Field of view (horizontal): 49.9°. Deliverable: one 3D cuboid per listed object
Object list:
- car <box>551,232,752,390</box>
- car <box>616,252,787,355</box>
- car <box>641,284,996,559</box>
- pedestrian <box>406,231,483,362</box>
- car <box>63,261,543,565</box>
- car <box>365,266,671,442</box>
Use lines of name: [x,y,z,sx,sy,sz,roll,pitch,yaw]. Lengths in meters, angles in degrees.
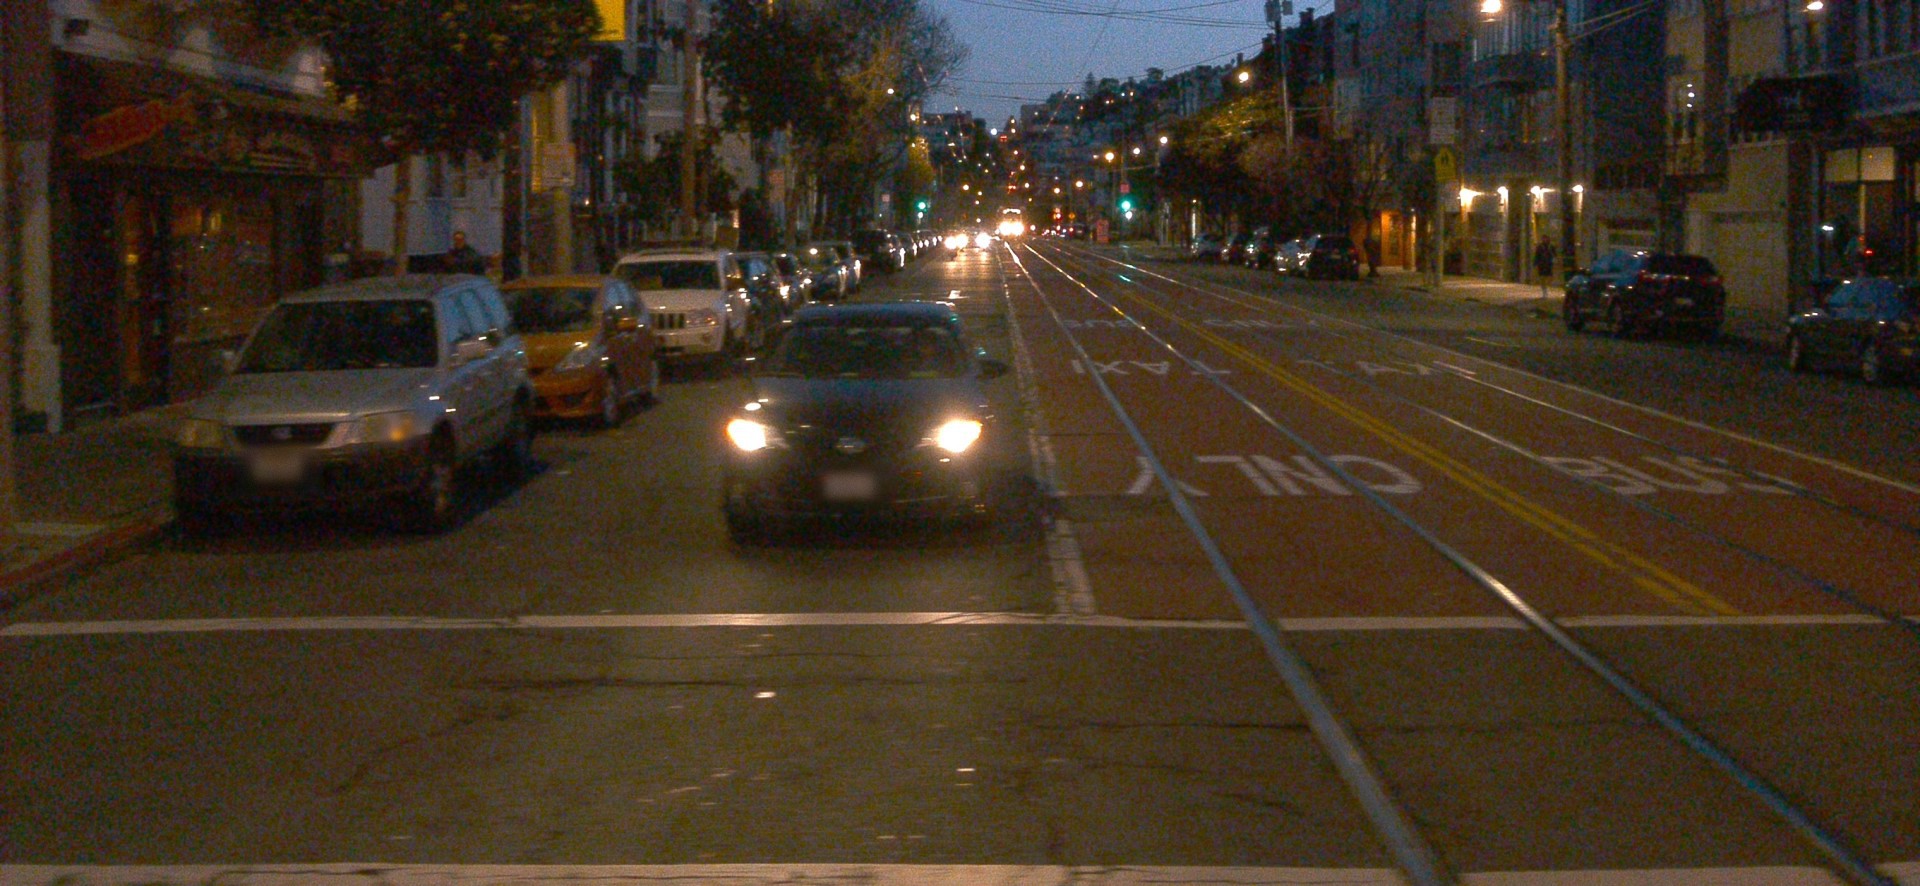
car: [-4.136,-1.916,28.470,2.113,1.890,4.939,0,6,-1]
car: [-4.170,-2.354,34.001,1.992,1.462,4.649,0,6,3]
car: [-0.840,-0.319,15.238,2.099,1.511,4.889,0,6,2]
pedestrian: [-7.477,-2.139,29.969,0.869,1.857,0.857,0,2,1]
car: [-4.563,-0.382,15.135,2.118,1.761,4.461,0,6,-1]
car: [-4.561,-1.043,22.027,2.145,1.551,4.433,0,6,2]
